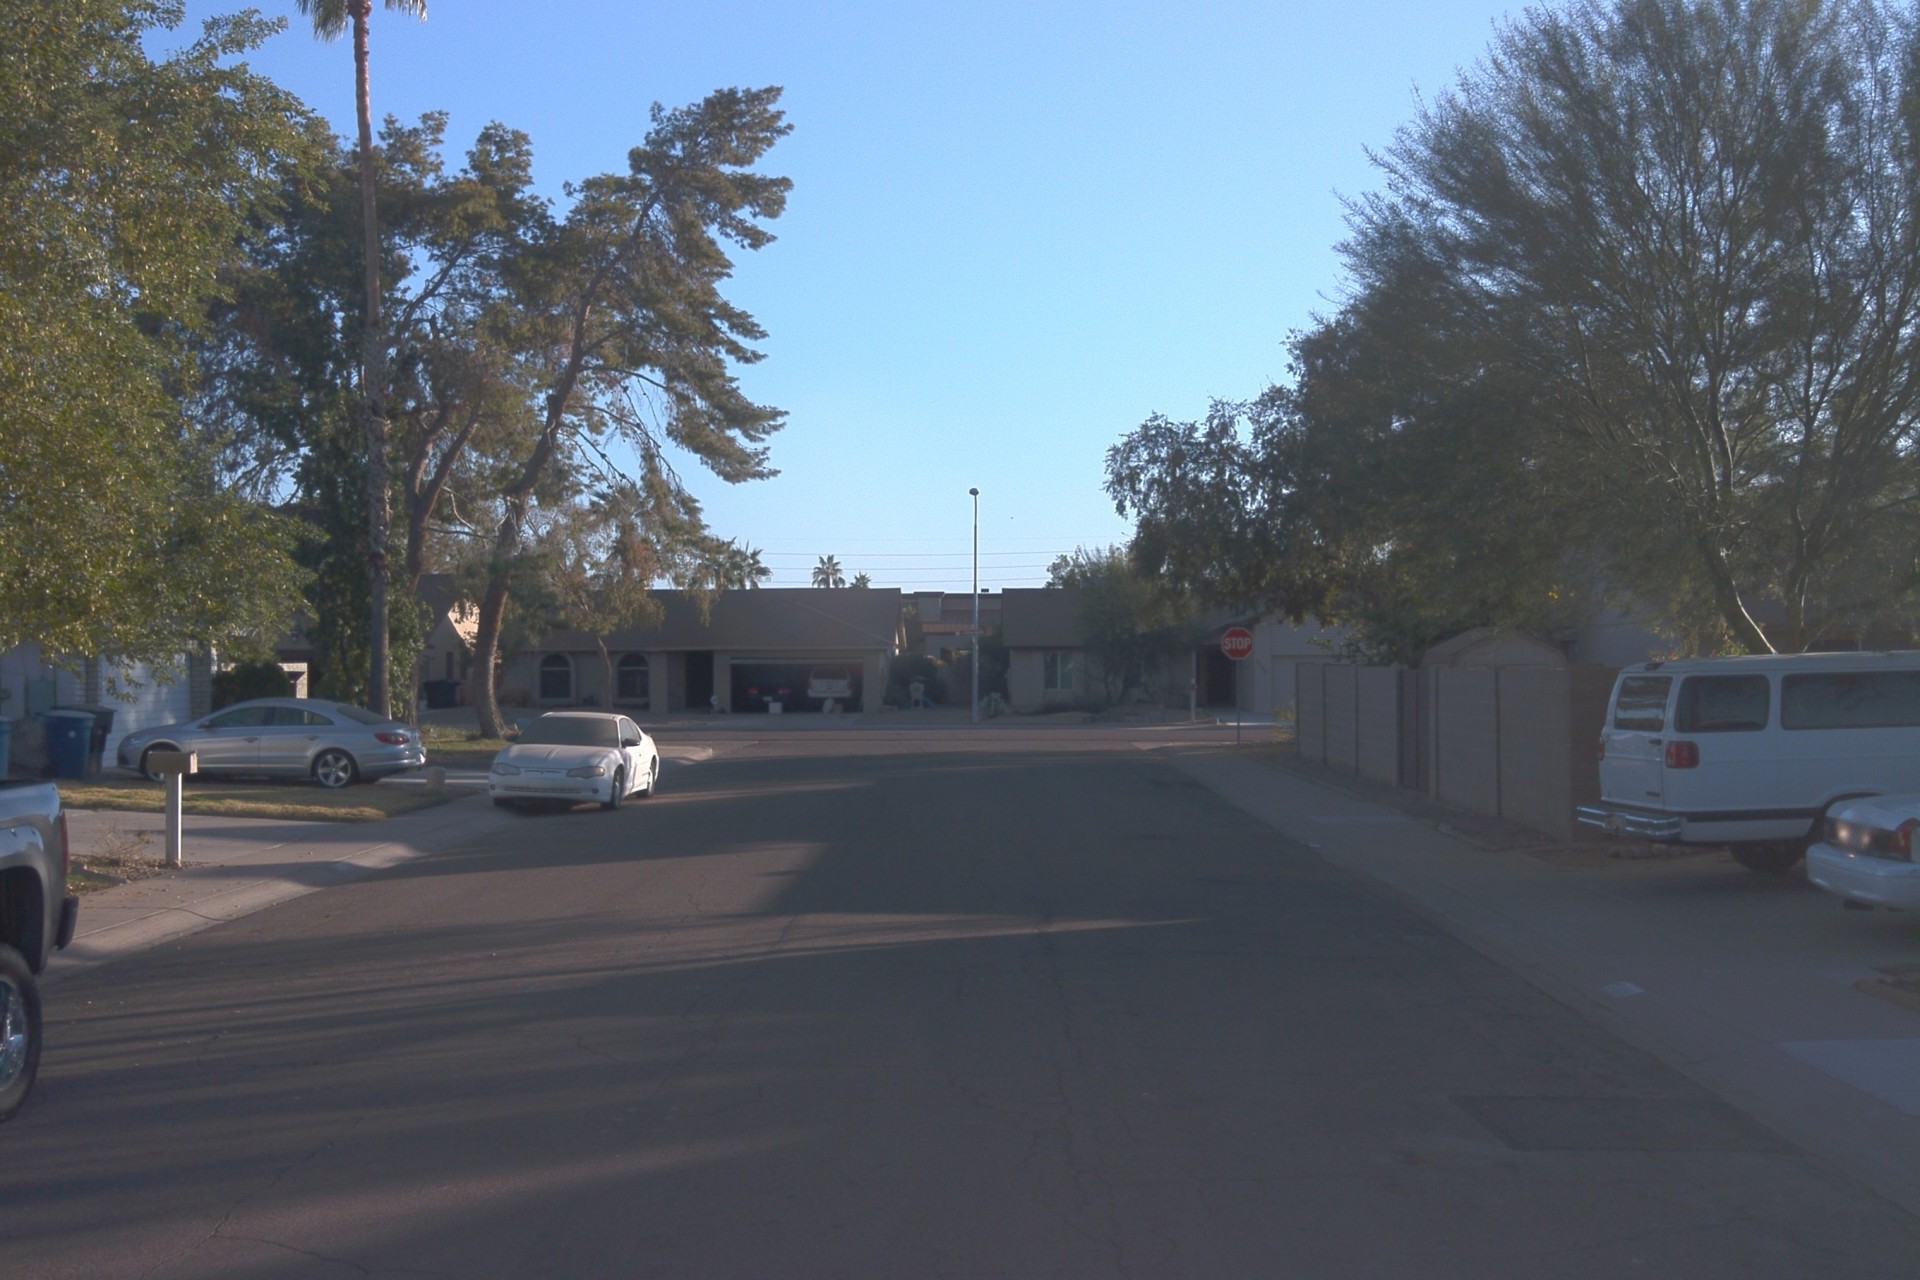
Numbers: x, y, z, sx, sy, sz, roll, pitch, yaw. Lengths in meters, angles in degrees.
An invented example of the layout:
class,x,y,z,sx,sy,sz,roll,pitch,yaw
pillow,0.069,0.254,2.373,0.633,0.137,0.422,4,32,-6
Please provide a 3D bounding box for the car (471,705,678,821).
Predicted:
class,x,y,z,sx,sy,sz,roll,pitch,yaw
car,-5.843,1.830,32.089,2.102,1.560,5.052,1,-1,2

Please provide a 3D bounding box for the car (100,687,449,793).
class,x,y,z,sx,sy,sz,roll,pitch,yaw
car,-10.962,1.580,33.391,4.861,1.590,2.201,1,-1,2
